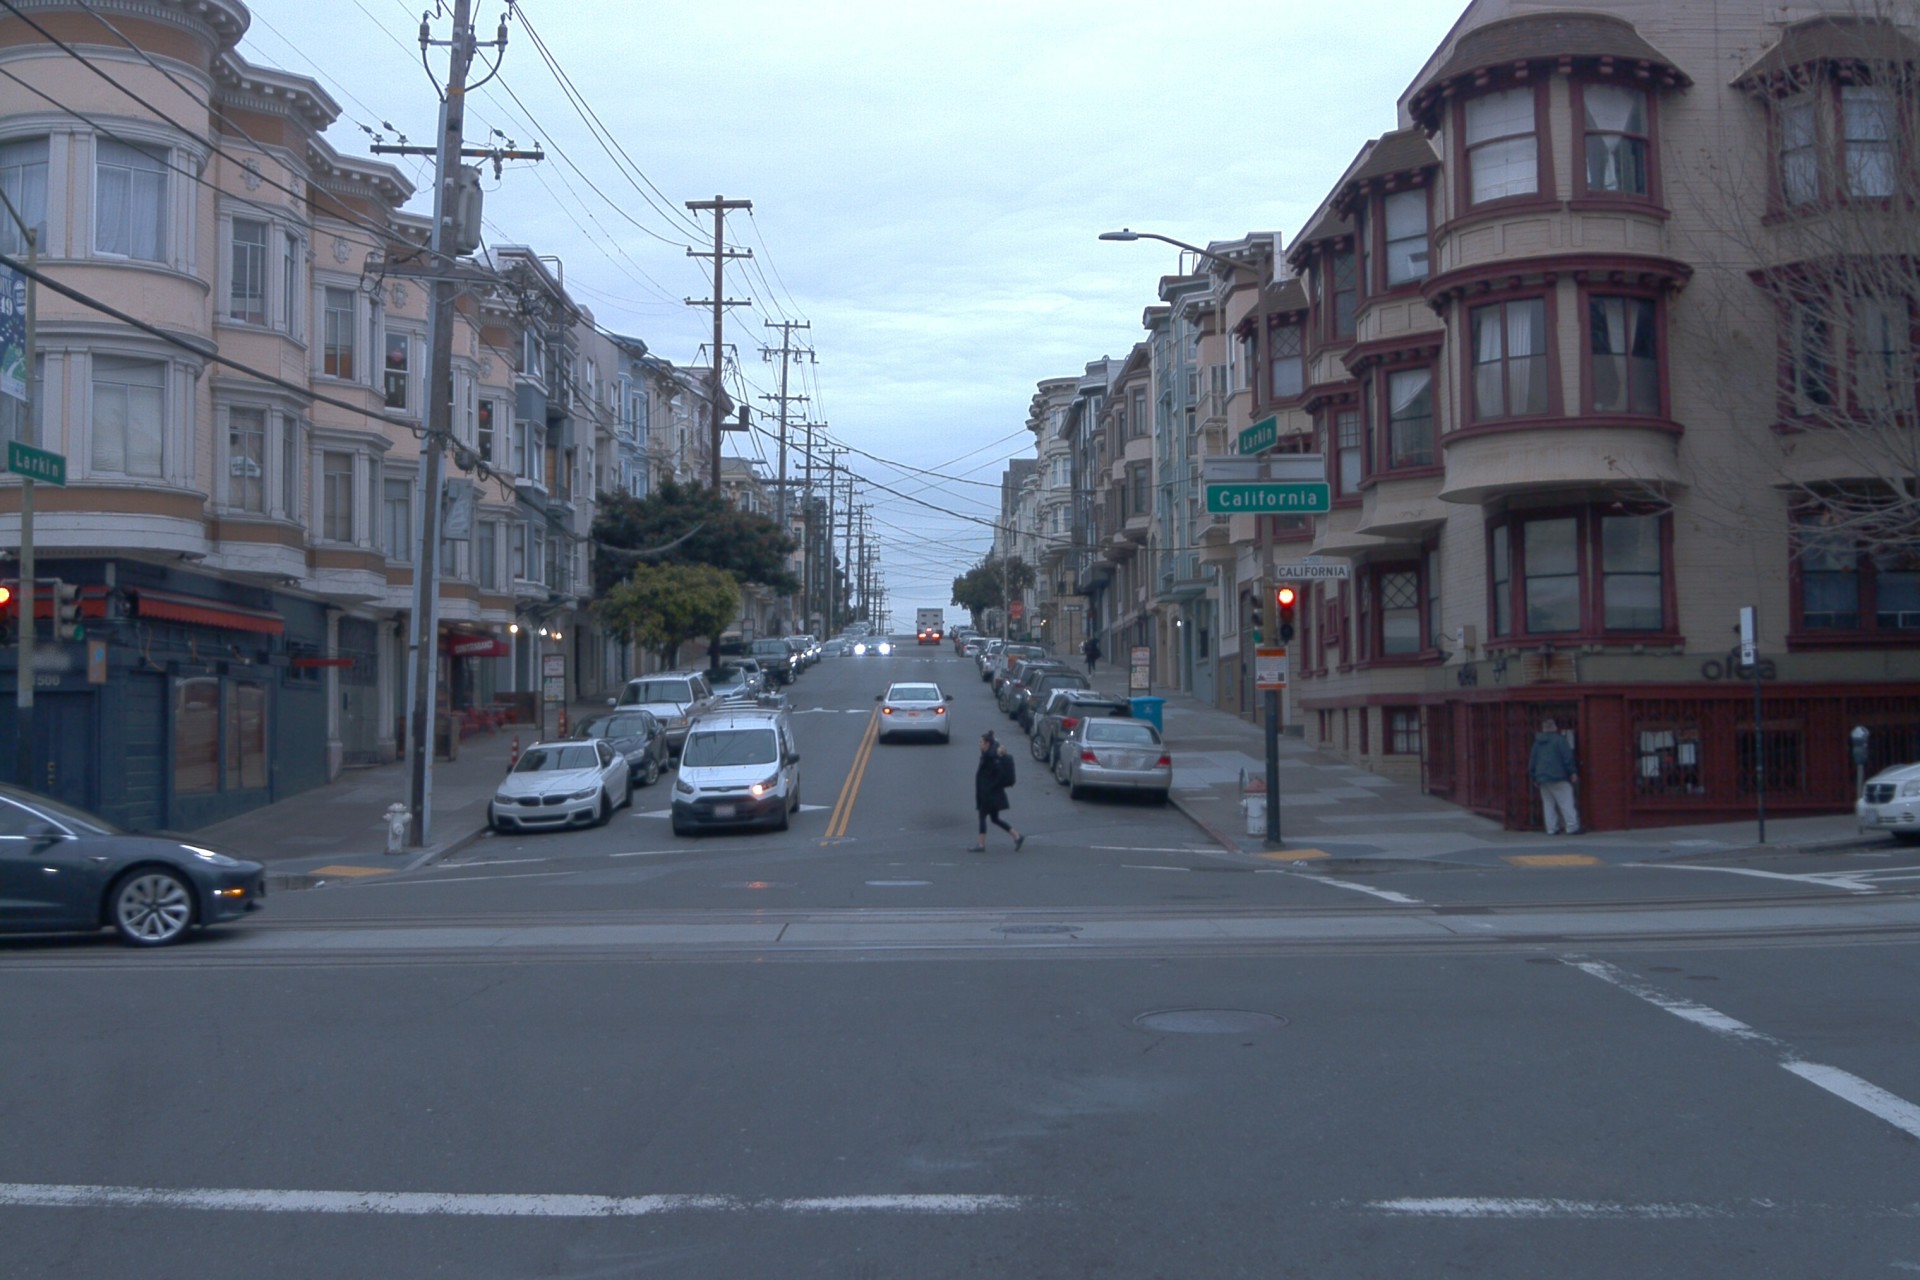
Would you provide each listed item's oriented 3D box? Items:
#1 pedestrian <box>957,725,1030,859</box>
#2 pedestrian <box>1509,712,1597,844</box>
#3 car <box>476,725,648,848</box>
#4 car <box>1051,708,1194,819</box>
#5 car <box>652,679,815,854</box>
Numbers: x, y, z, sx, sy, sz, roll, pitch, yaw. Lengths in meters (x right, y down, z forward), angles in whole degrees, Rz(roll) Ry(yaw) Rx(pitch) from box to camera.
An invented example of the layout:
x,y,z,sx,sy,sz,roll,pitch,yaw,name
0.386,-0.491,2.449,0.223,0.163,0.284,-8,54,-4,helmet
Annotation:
x,y,z,sx,sy,sz,roll,pitch,yaw,name
0.473,2.146,29.221,0.943,1.820,0.722,0,1,-5,pedestrian
8.727,2.009,30.267,0.902,1.830,0.919,-1,1,-44,pedestrian
-6.813,2.477,35.707,2.150,1.707,4.680,0,1,-1,car
2.937,2.235,38.182,2.108,1.700,4.470,0,1,-2,car
-3.622,1.976,33.712,2.196,2.490,4.690,0,1,-1,car
